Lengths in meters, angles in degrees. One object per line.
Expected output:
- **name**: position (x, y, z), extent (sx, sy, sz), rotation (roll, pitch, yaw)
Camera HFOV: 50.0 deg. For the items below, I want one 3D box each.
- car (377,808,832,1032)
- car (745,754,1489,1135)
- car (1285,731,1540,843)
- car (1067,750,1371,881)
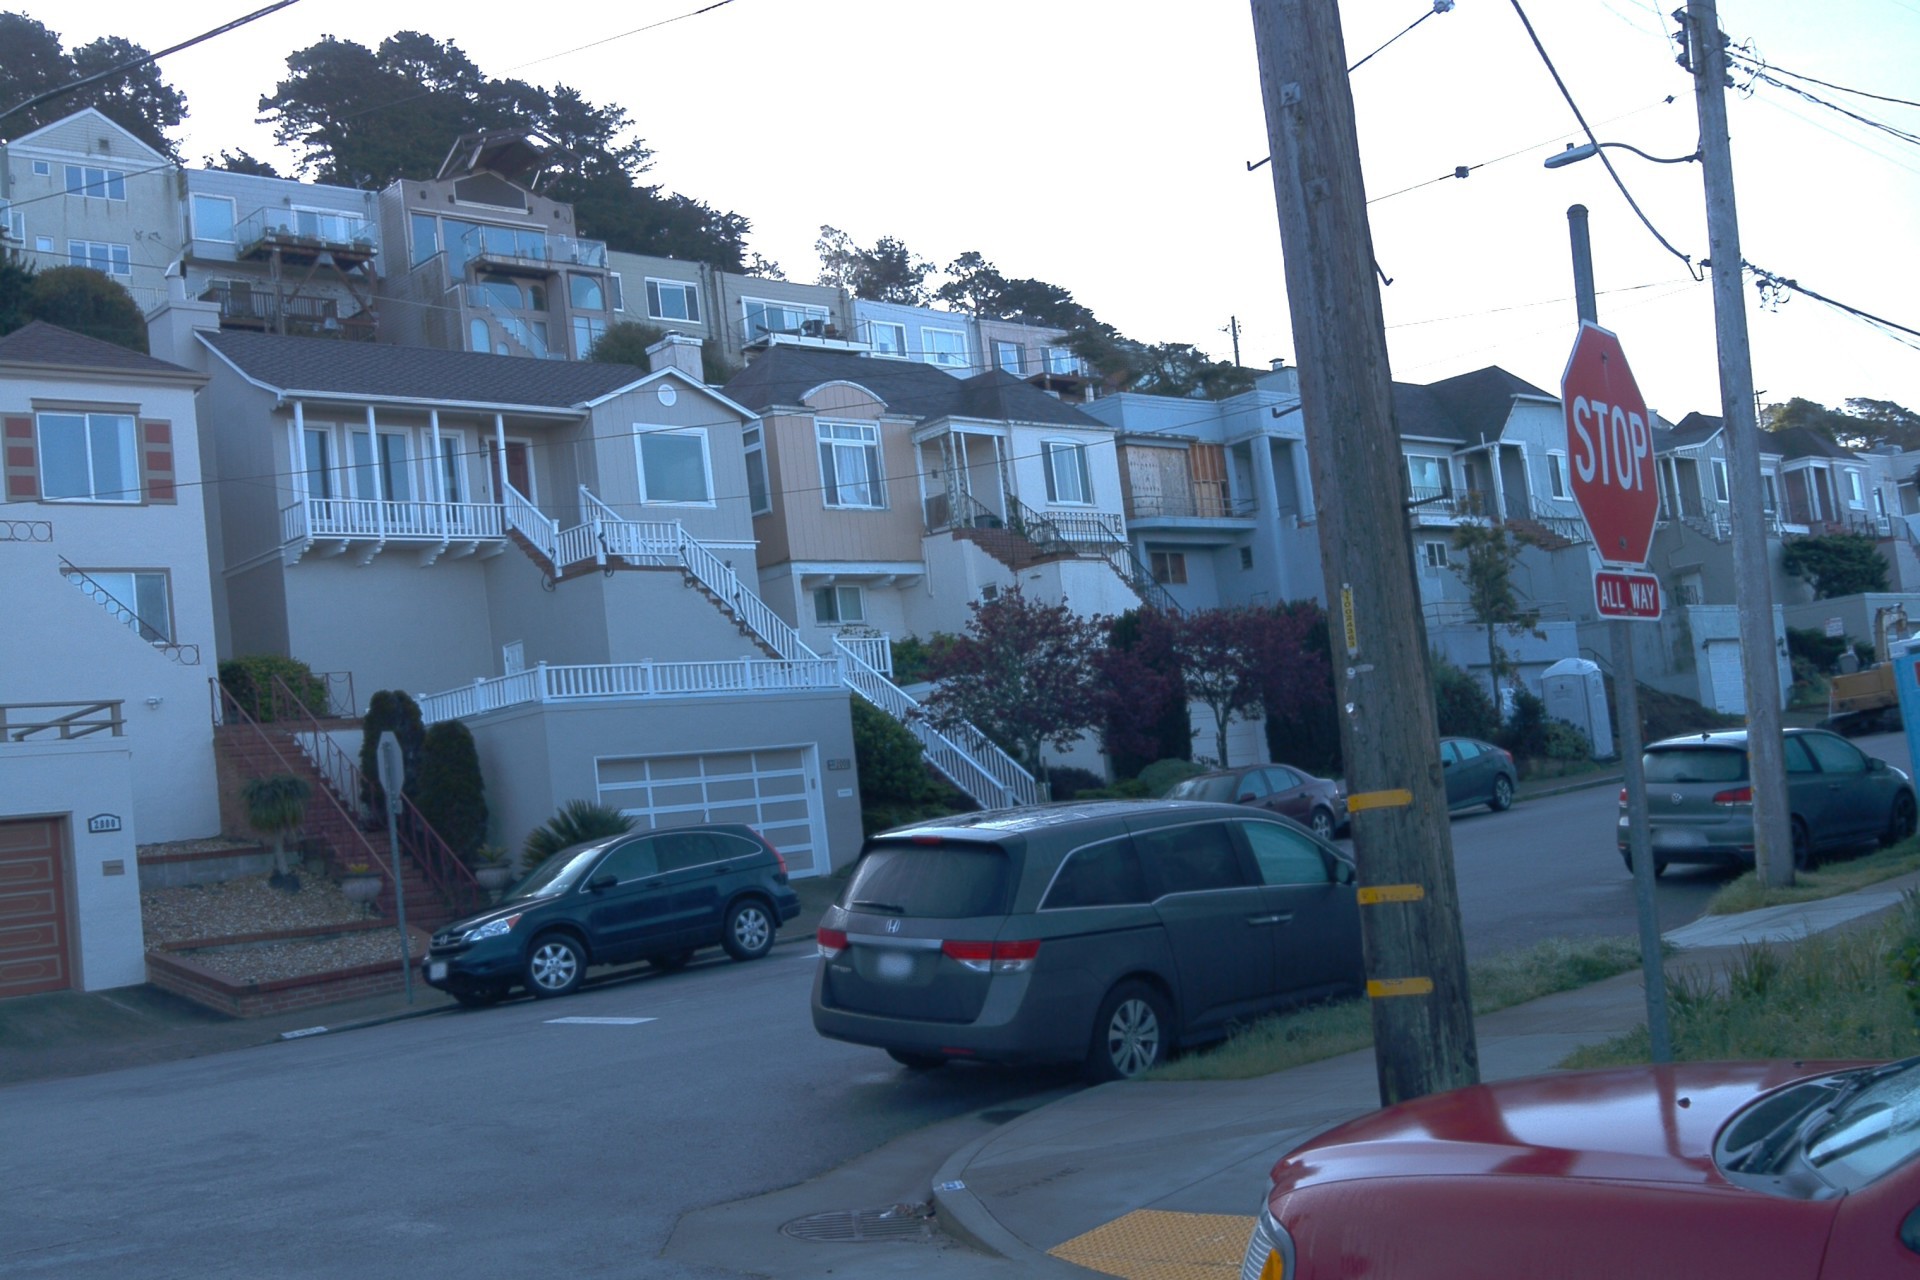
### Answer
- **car**: position (-3.960, 3.062, 23.489), extent (4.680, 1.910, 2.207), rotation (0, 0, -44)
- **car**: position (1.278, 1.865, 14.318), extent (2.390, 1.860, 5.188), rotation (0, 0, 44)
- **car**: position (7.782, 2.449, 35.165), extent (2.163, 1.560, 4.754), rotation (0, 0, 42)
- **car**: position (3.996, 2.579, 31.204), extent (2.151, 1.560, 4.797), rotation (0, 0, 43)
